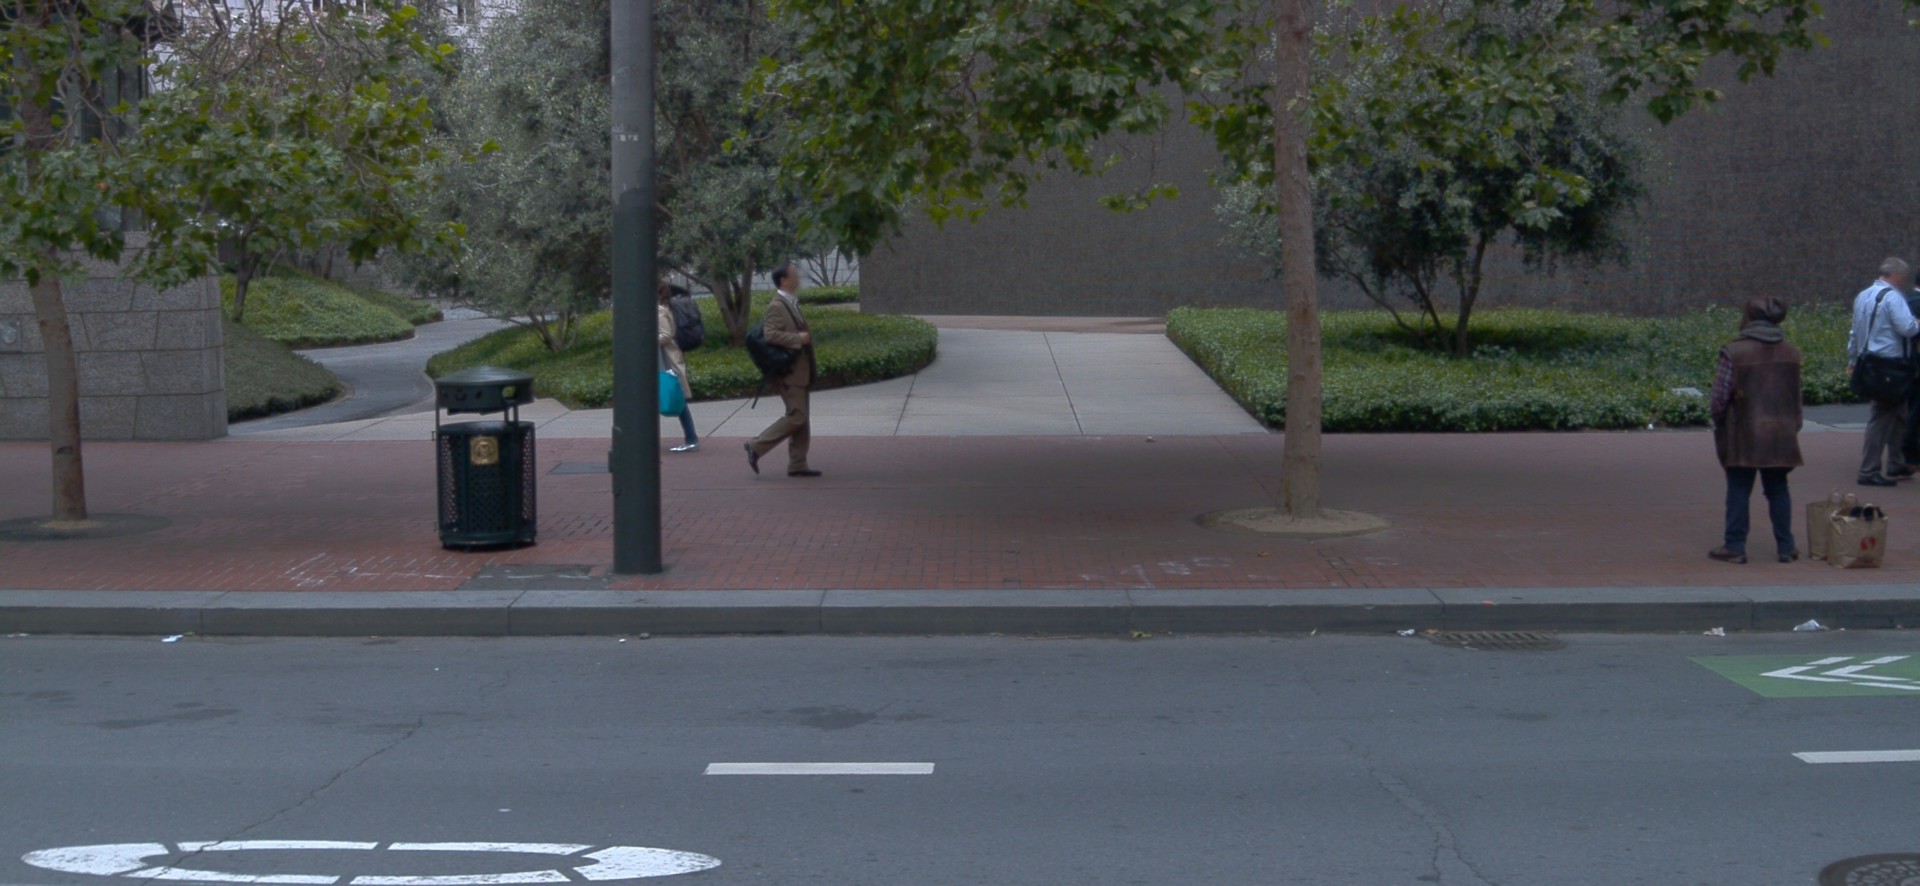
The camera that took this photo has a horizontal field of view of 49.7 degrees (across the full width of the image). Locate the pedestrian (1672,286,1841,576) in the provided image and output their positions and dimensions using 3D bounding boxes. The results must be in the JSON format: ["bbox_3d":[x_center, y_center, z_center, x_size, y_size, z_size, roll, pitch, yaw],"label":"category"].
[{"bbox_3d":[5.021,-0.099,13.083,0.791,1.757,0.642,0,2,-5],"label":"pedestrian"}]

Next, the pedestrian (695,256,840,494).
[{"bbox_3d":[-1.568,-0.586,17.074,1.098,1.877,1.032,0,2,0],"label":"pedestrian"}]

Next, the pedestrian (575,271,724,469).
[{"bbox_3d":[-2.786,-0.690,18.710,1.145,1.697,1.149,0,3,1],"label":"pedestrian"}]
